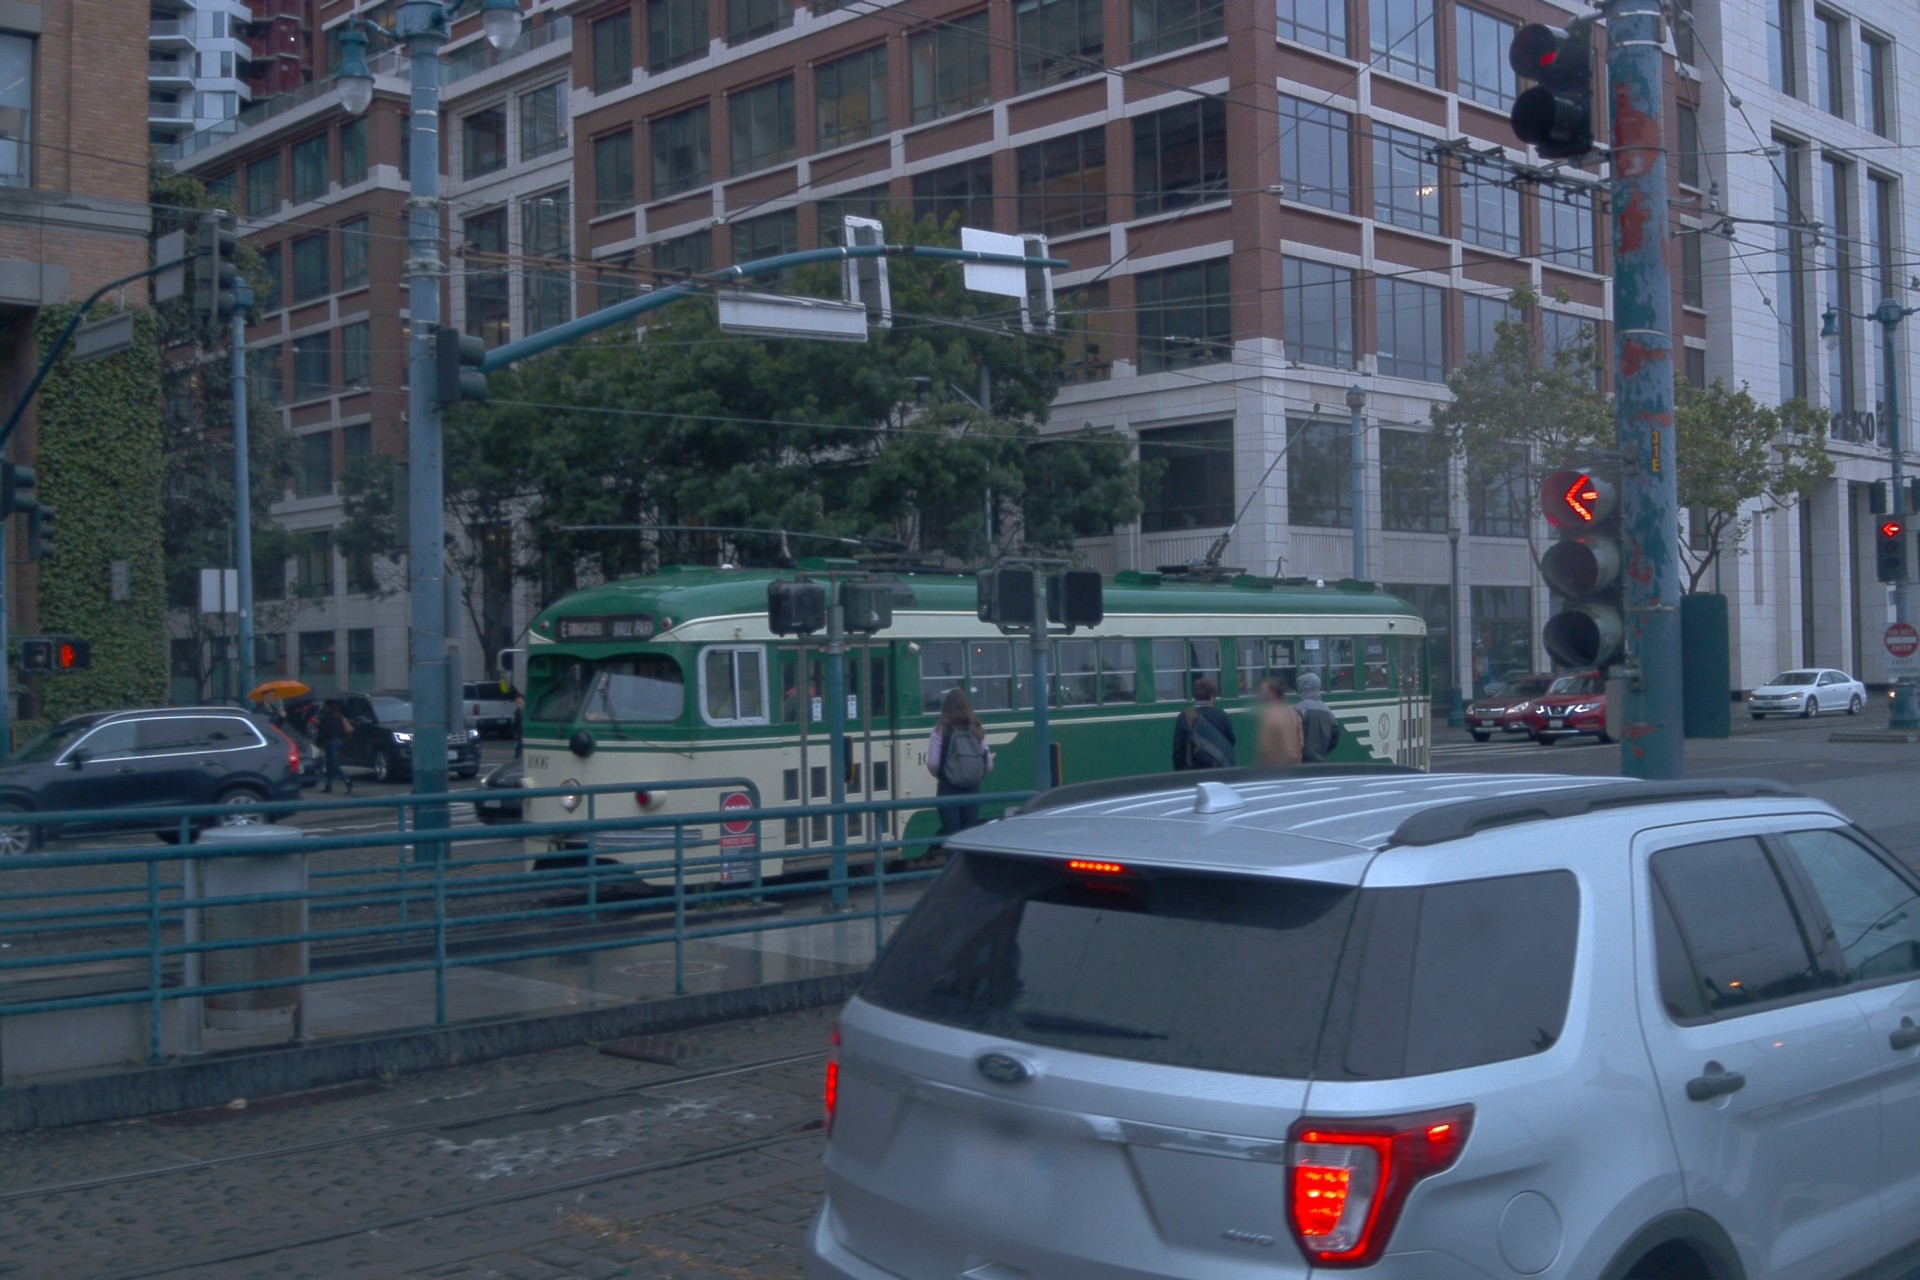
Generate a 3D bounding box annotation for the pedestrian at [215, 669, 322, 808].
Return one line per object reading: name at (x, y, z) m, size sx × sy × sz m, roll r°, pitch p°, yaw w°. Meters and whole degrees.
pedestrian at (-10.652, 1.494, 32.055) m, size 0.990 × 2.080 × 1.193 m, roll 0°, pitch 0°, yaw 37°

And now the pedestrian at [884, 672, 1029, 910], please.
pedestrian at (-0.030, 1.191, 16.875) m, size 0.852 × 1.840 × 0.831 m, roll 0°, pitch 0°, yaw -37°

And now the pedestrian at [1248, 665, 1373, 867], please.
pedestrian at (3.444, 1.210, 20.453) m, size 0.876 × 1.920 × 0.852 m, roll 0°, pitch 0°, yaw -30°

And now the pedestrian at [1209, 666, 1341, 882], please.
pedestrian at (2.923, 1.212, 19.297) m, size 0.878 × 1.920 × 0.851 m, roll 0°, pitch 0°, yaw -43°

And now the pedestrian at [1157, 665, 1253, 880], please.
pedestrian at (2.243, 1.199, 19.127) m, size 0.820 × 1.920 × 0.883 m, roll 0°, pitch 0°, yaw 2°
